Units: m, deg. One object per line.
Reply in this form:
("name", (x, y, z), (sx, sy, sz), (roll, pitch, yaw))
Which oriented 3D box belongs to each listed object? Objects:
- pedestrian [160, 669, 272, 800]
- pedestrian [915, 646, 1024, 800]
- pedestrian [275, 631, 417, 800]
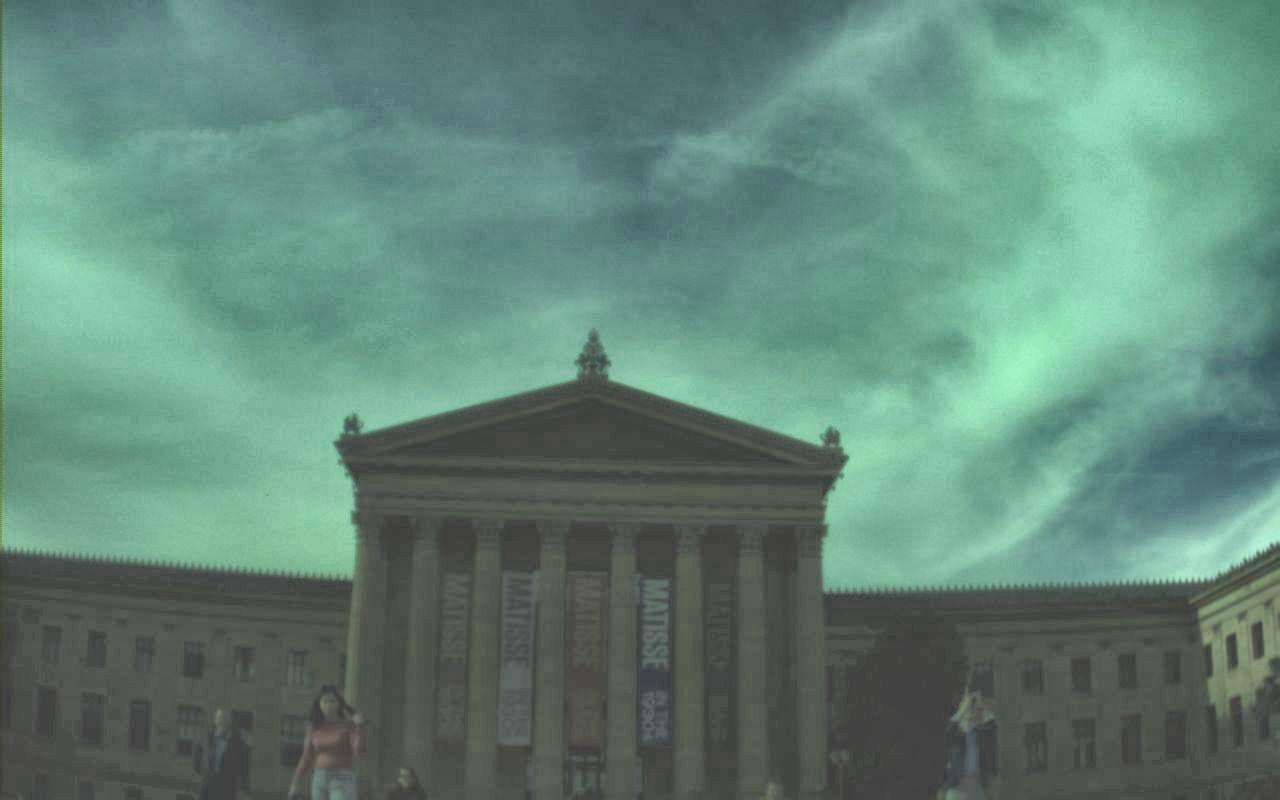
("pedestrian", (-4.239, 3.658, 11.439), (0.828, 1.737, 0.811), (0, 0, -2))
("pedestrian", (2.875, 3.110, 10.380), (0.767, 1.756, 0.774), (0, 0, 6))
("pedestrian", (-2.180, 2.633, 8.668), (0.820, 1.718, 0.825), (0, 0, -25))
